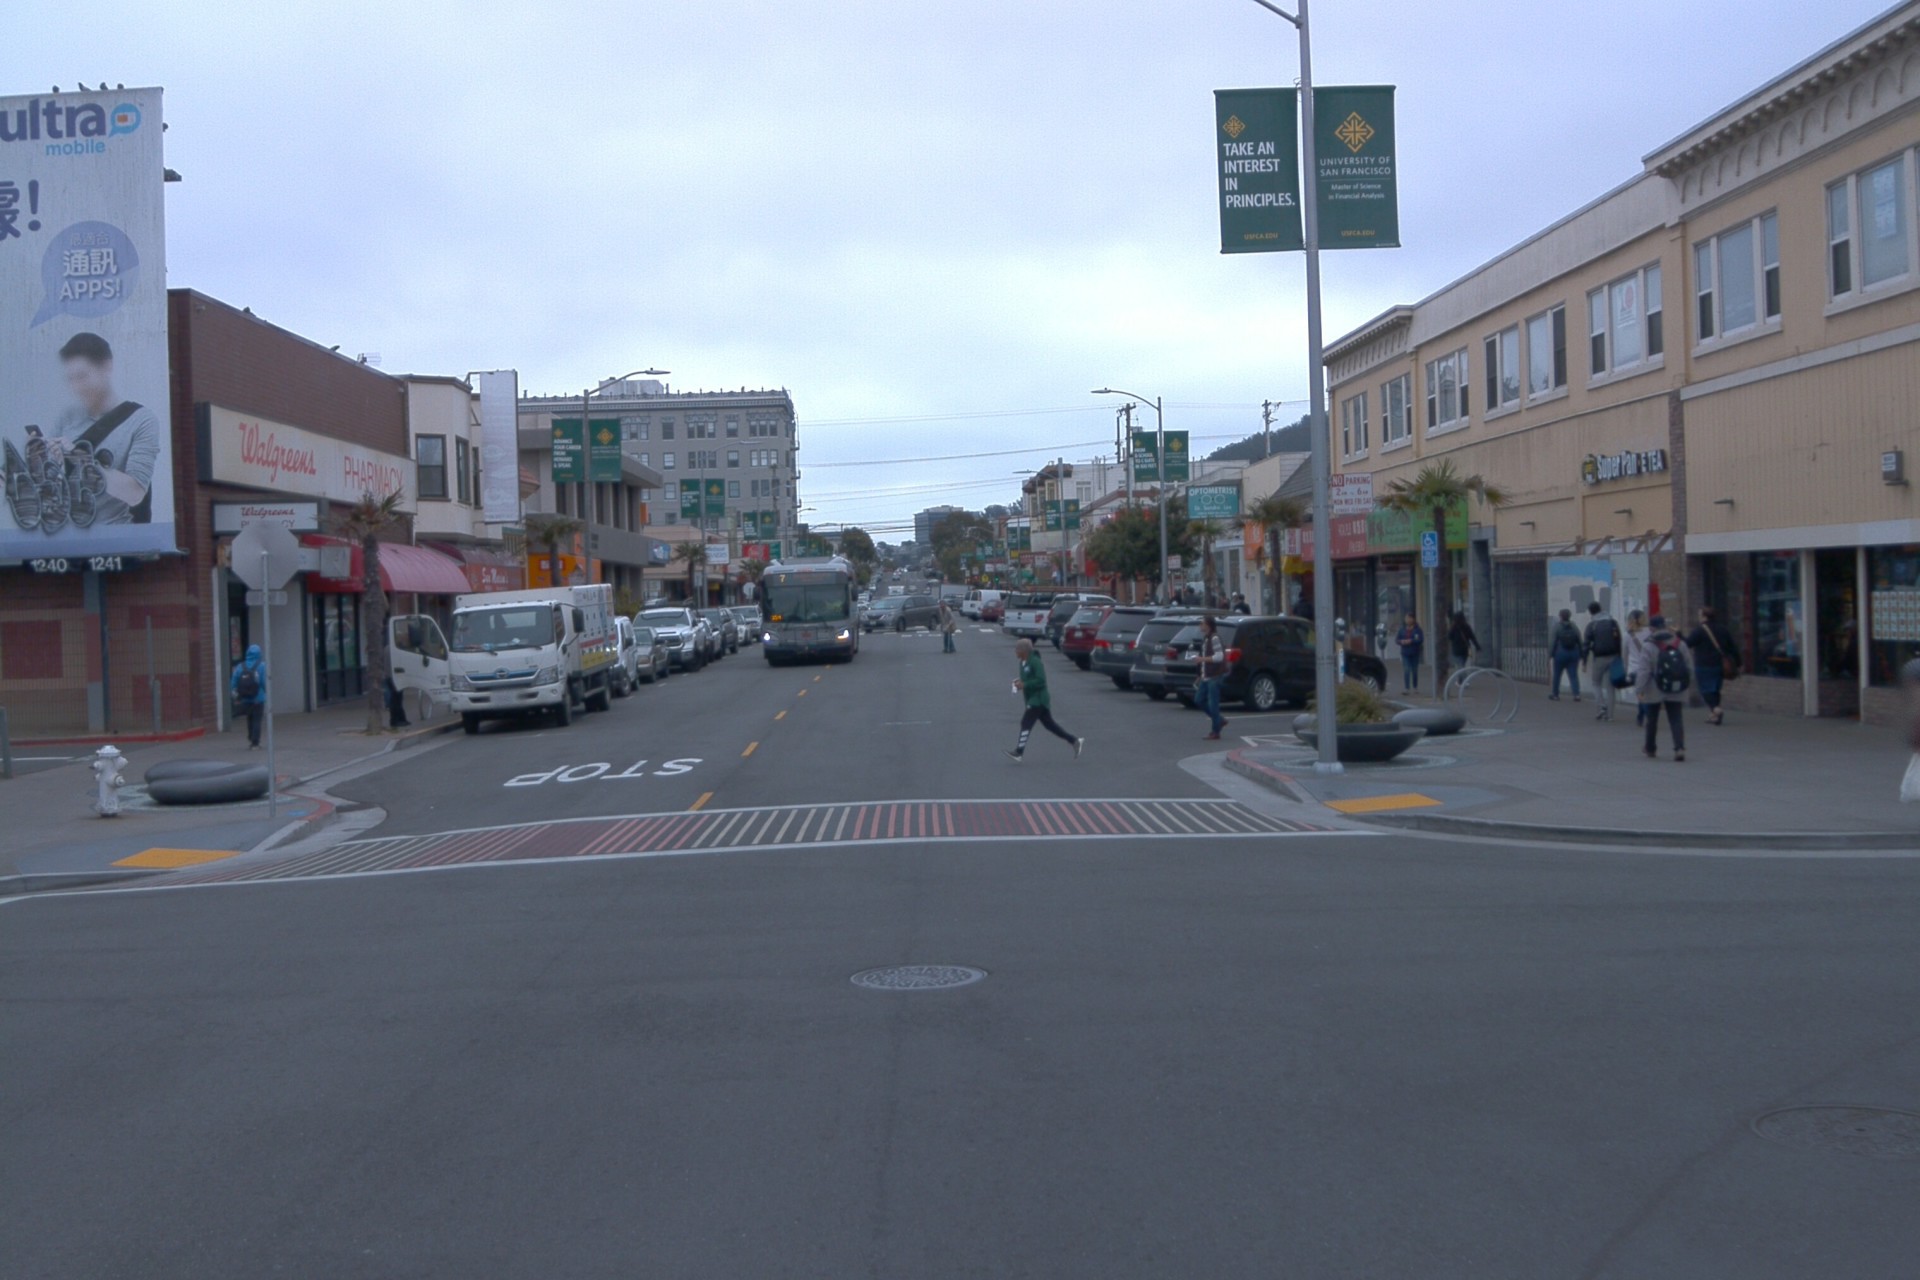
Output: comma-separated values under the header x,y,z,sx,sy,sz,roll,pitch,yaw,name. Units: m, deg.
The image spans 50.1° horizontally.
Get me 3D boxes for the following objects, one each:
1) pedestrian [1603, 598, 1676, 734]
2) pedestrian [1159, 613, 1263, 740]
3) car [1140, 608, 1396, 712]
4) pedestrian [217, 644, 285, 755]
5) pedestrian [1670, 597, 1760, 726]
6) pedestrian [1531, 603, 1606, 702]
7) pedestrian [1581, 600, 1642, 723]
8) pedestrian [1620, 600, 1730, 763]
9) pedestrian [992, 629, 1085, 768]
x,y,z,sx,sy,sz,roll,pitch,yaw,name
9.237,0.341,27.976,0.711,1.824,0.916,0,1,2,pedestrian
3.668,0.515,30.098,1.260,1.820,0.886,-1,1,-15,pedestrian
5.583,0.312,36.992,4.510,1.740,2.044,-1,1,-39,car
-11.116,0.922,32.251,0.819,1.710,0.783,0,1,-3,pedestrian
10.289,0.283,28.048,0.952,1.742,0.808,0,1,2,pedestrian
10.289,0.199,34.802,1.000,1.650,1.000,0,1,2,pedestrian
9.386,0.304,29.640,0.689,1.751,0.813,0,1,7,pedestrian
7.957,0.448,22.923,0.924,1.770,0.949,0,1,3,pedestrian
0.982,0.728,26.017,1.102,1.713,0.768,0,1,-2,pedestrian
